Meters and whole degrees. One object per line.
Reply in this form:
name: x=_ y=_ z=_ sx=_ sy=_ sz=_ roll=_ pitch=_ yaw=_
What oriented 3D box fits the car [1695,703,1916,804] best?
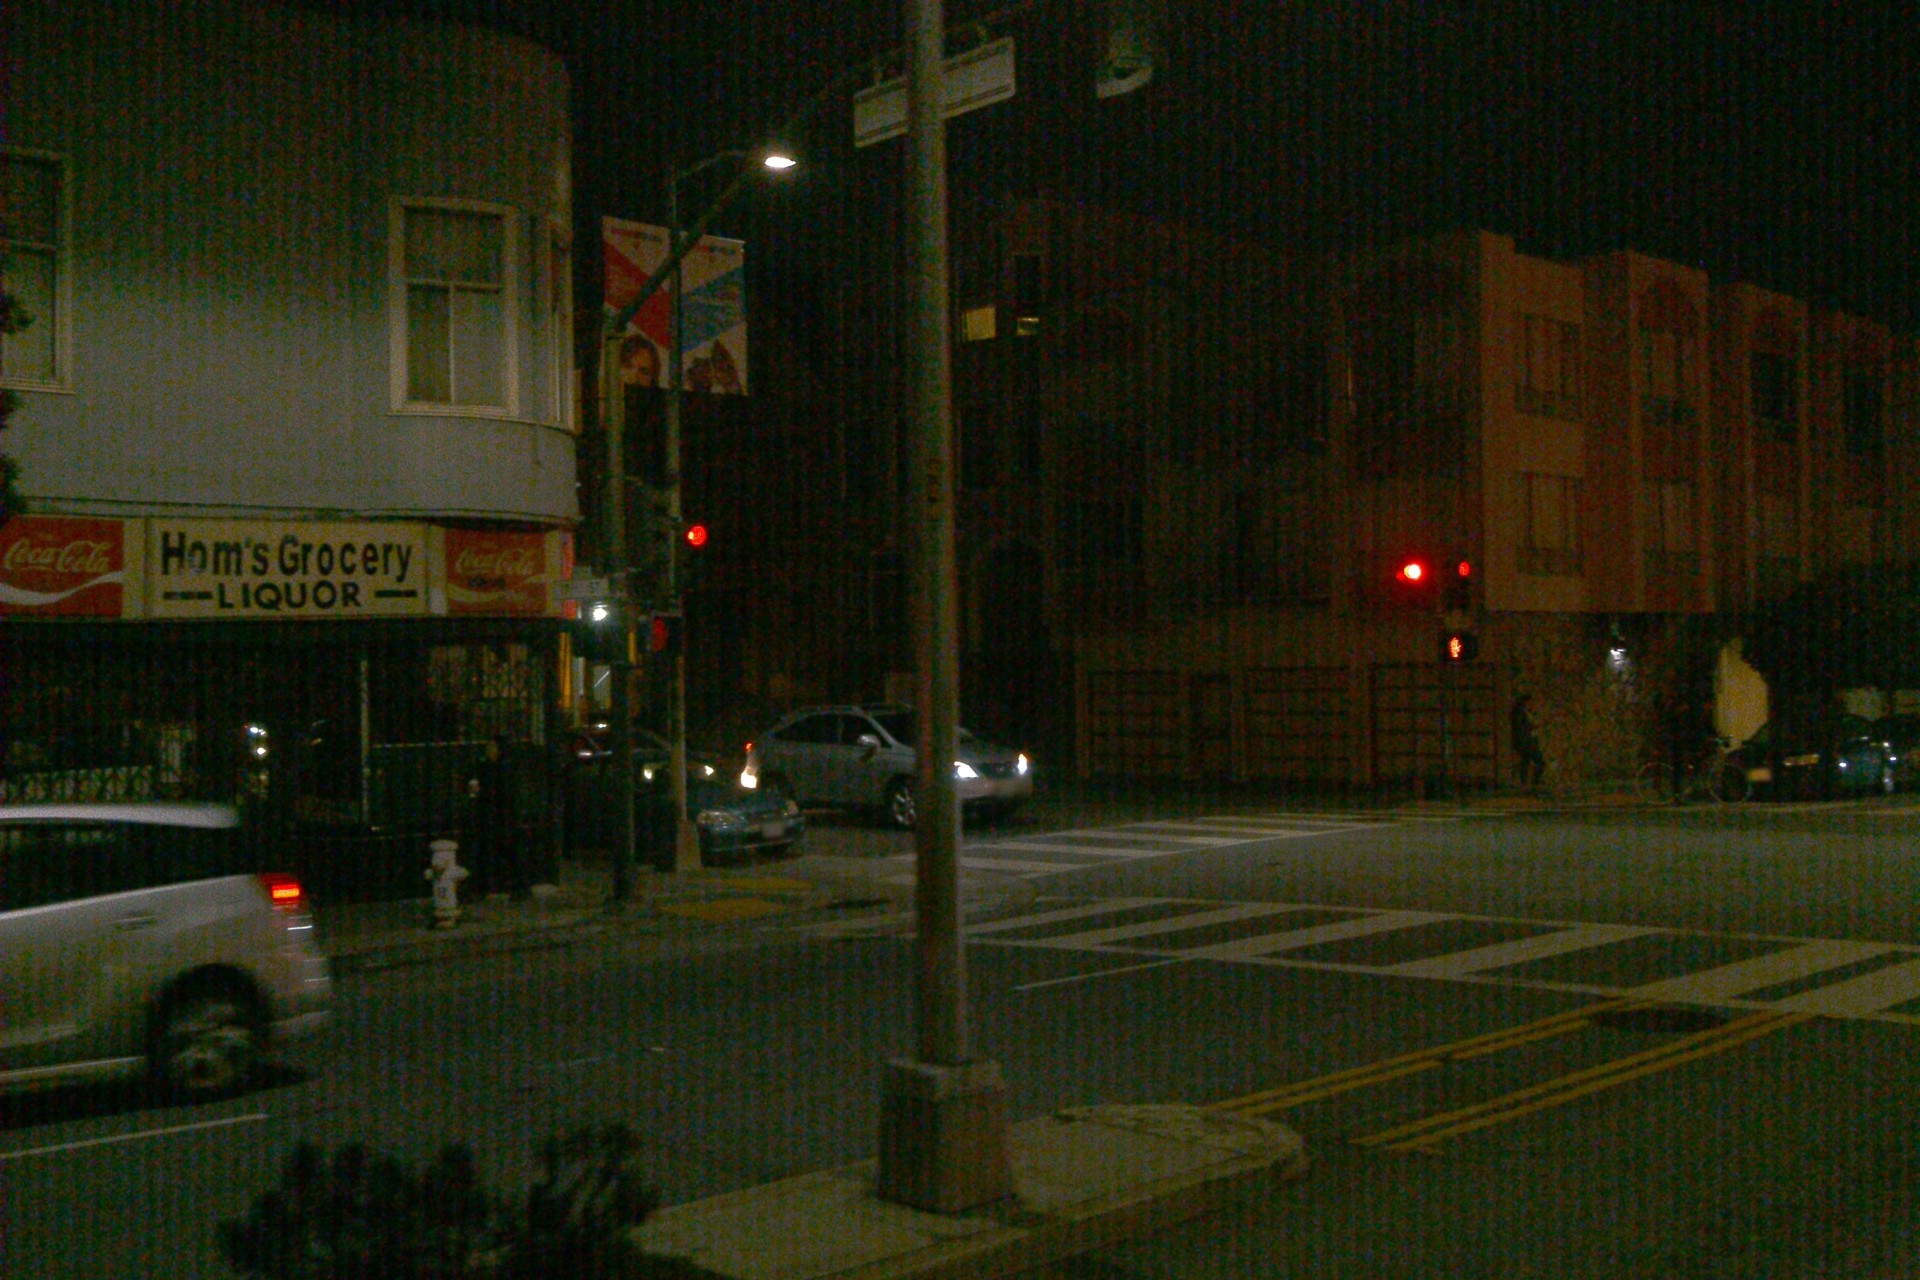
car: x=14.139 y=1.831 z=34.404 sx=1.967 sy=1.430 sz=4.633 roll=1 pitch=0 yaw=41

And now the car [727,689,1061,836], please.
car: x=-1.014 y=1.664 z=29.466 sx=4.613 sy=1.760 sz=2.139 roll=1 pitch=0 yaw=44

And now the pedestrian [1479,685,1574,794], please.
pedestrian: x=9.243 y=1.608 z=33.725 sx=1.175 sy=1.690 sz=0.935 roll=1 pitch=0 yaw=42

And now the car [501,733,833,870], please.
car: x=-3.782 y=1.975 z=26.233 sx=4.278 sy=1.350 sz=1.946 roll=1 pitch=0 yaw=44

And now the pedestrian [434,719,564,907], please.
pedestrian: x=-4.404 y=1.625 z=19.732 sx=0.867 sy=1.690 sz=0.829 roll=1 pitch=0 yaw=42

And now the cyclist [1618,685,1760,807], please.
cyclist: x=11.188 y=1.601 z=31.710 sx=1.896 sy=1.760 sz=0.832 roll=1 pitch=0 yaw=29
